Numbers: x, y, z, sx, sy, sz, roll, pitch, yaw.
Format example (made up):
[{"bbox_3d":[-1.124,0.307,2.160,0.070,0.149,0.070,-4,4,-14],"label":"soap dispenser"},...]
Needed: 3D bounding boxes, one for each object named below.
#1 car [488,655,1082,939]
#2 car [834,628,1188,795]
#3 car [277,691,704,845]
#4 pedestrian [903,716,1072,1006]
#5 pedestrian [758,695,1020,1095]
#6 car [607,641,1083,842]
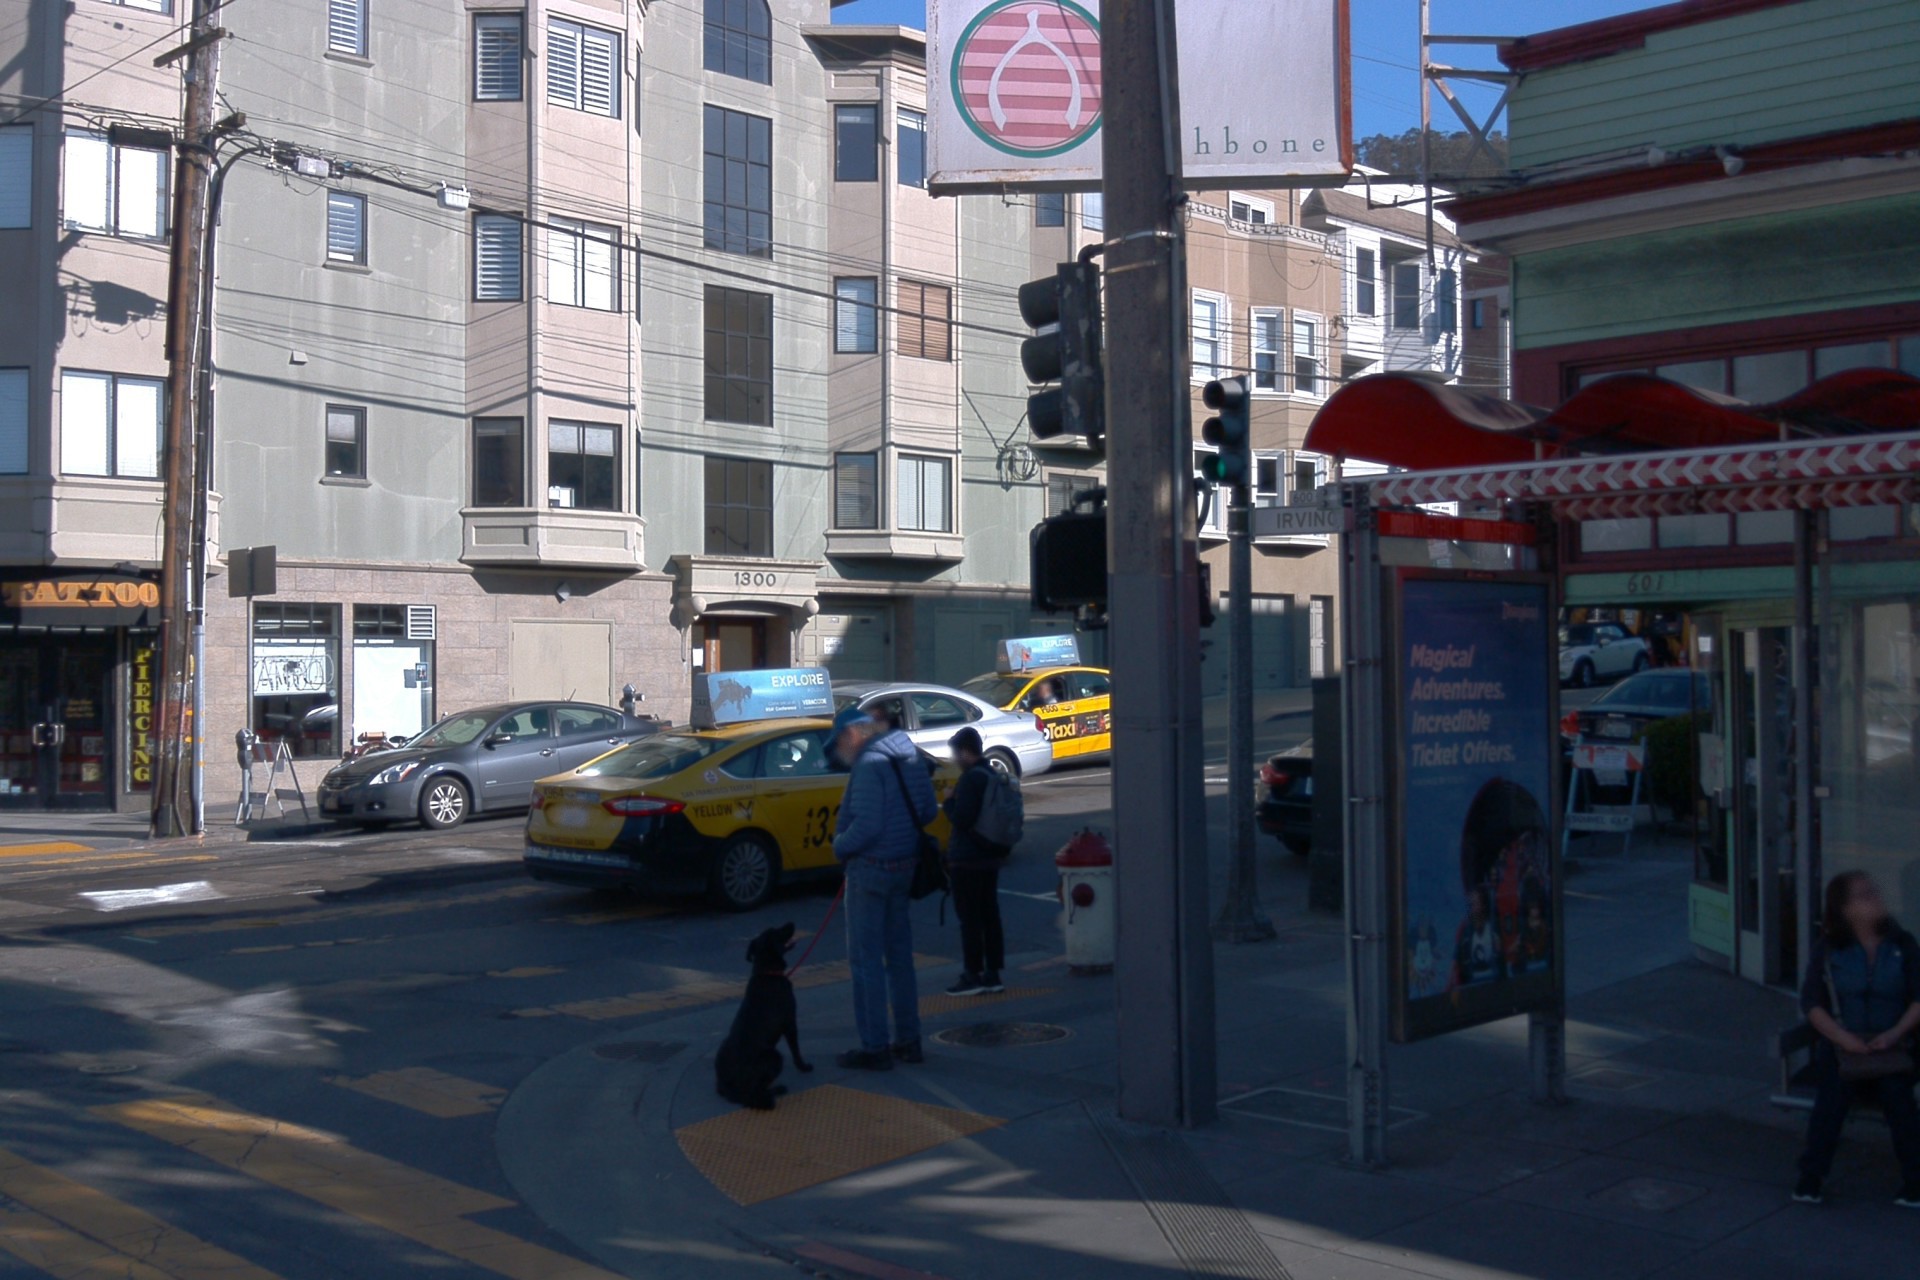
[{"bbox_3d":[-1.353,1.198,18.121,2.091,2.090,4.992,1,0,43],"label":"car"},{"bbox_3d":[0.776,0.921,28.821,4.772,2.100,2.070,1,0,-44],"label":"car"},{"bbox_3d":[-5.778,1.517,26.271,2.149,1.660,4.833,0,0,44],"label":"car"},{"bbox_3d":[0.167,1.342,13.044,0.687,1.700,0.778,0,0,-43],"label":"pedestrian"},{"bbox_3d":[-0.351,1.219,10.527,0.894,1.860,0.955,1,0,38],"label":"pedestrian"},{"bbox_3d":[-1.221,1.058,23.812,5.035,2.030,2.283,1,0,-41],"label":"car"}]
